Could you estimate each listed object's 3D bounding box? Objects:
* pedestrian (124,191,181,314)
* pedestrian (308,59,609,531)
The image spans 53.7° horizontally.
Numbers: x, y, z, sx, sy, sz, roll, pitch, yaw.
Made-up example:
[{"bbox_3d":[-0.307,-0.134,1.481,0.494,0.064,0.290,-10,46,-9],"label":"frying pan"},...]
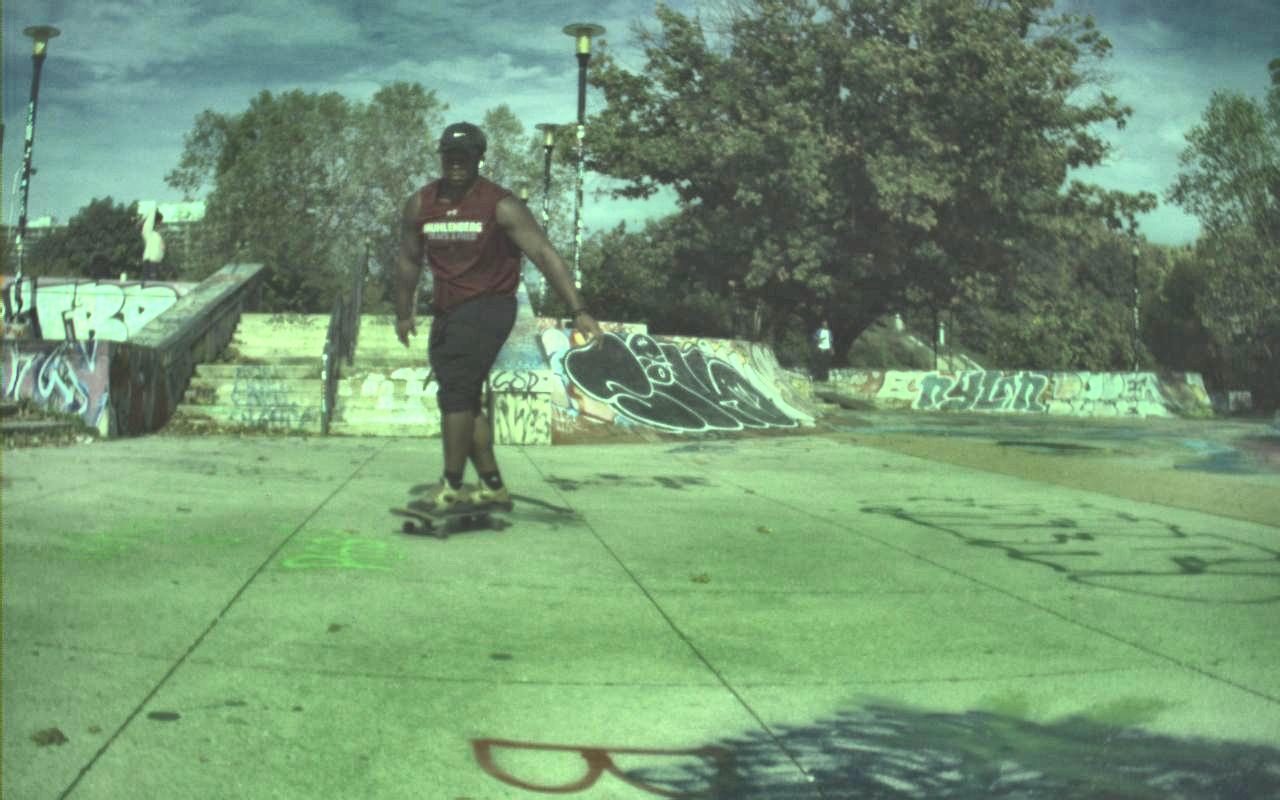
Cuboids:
[{"bbox_3d":[-7.887,-2.325,18.916,0.648,1.919,0.666,1,0,38],"label":"pedestrian"},{"bbox_3d":[-0.731,-0.399,5.045,0.824,1.708,0.909,1,0,33],"label":"pedestrian"}]
